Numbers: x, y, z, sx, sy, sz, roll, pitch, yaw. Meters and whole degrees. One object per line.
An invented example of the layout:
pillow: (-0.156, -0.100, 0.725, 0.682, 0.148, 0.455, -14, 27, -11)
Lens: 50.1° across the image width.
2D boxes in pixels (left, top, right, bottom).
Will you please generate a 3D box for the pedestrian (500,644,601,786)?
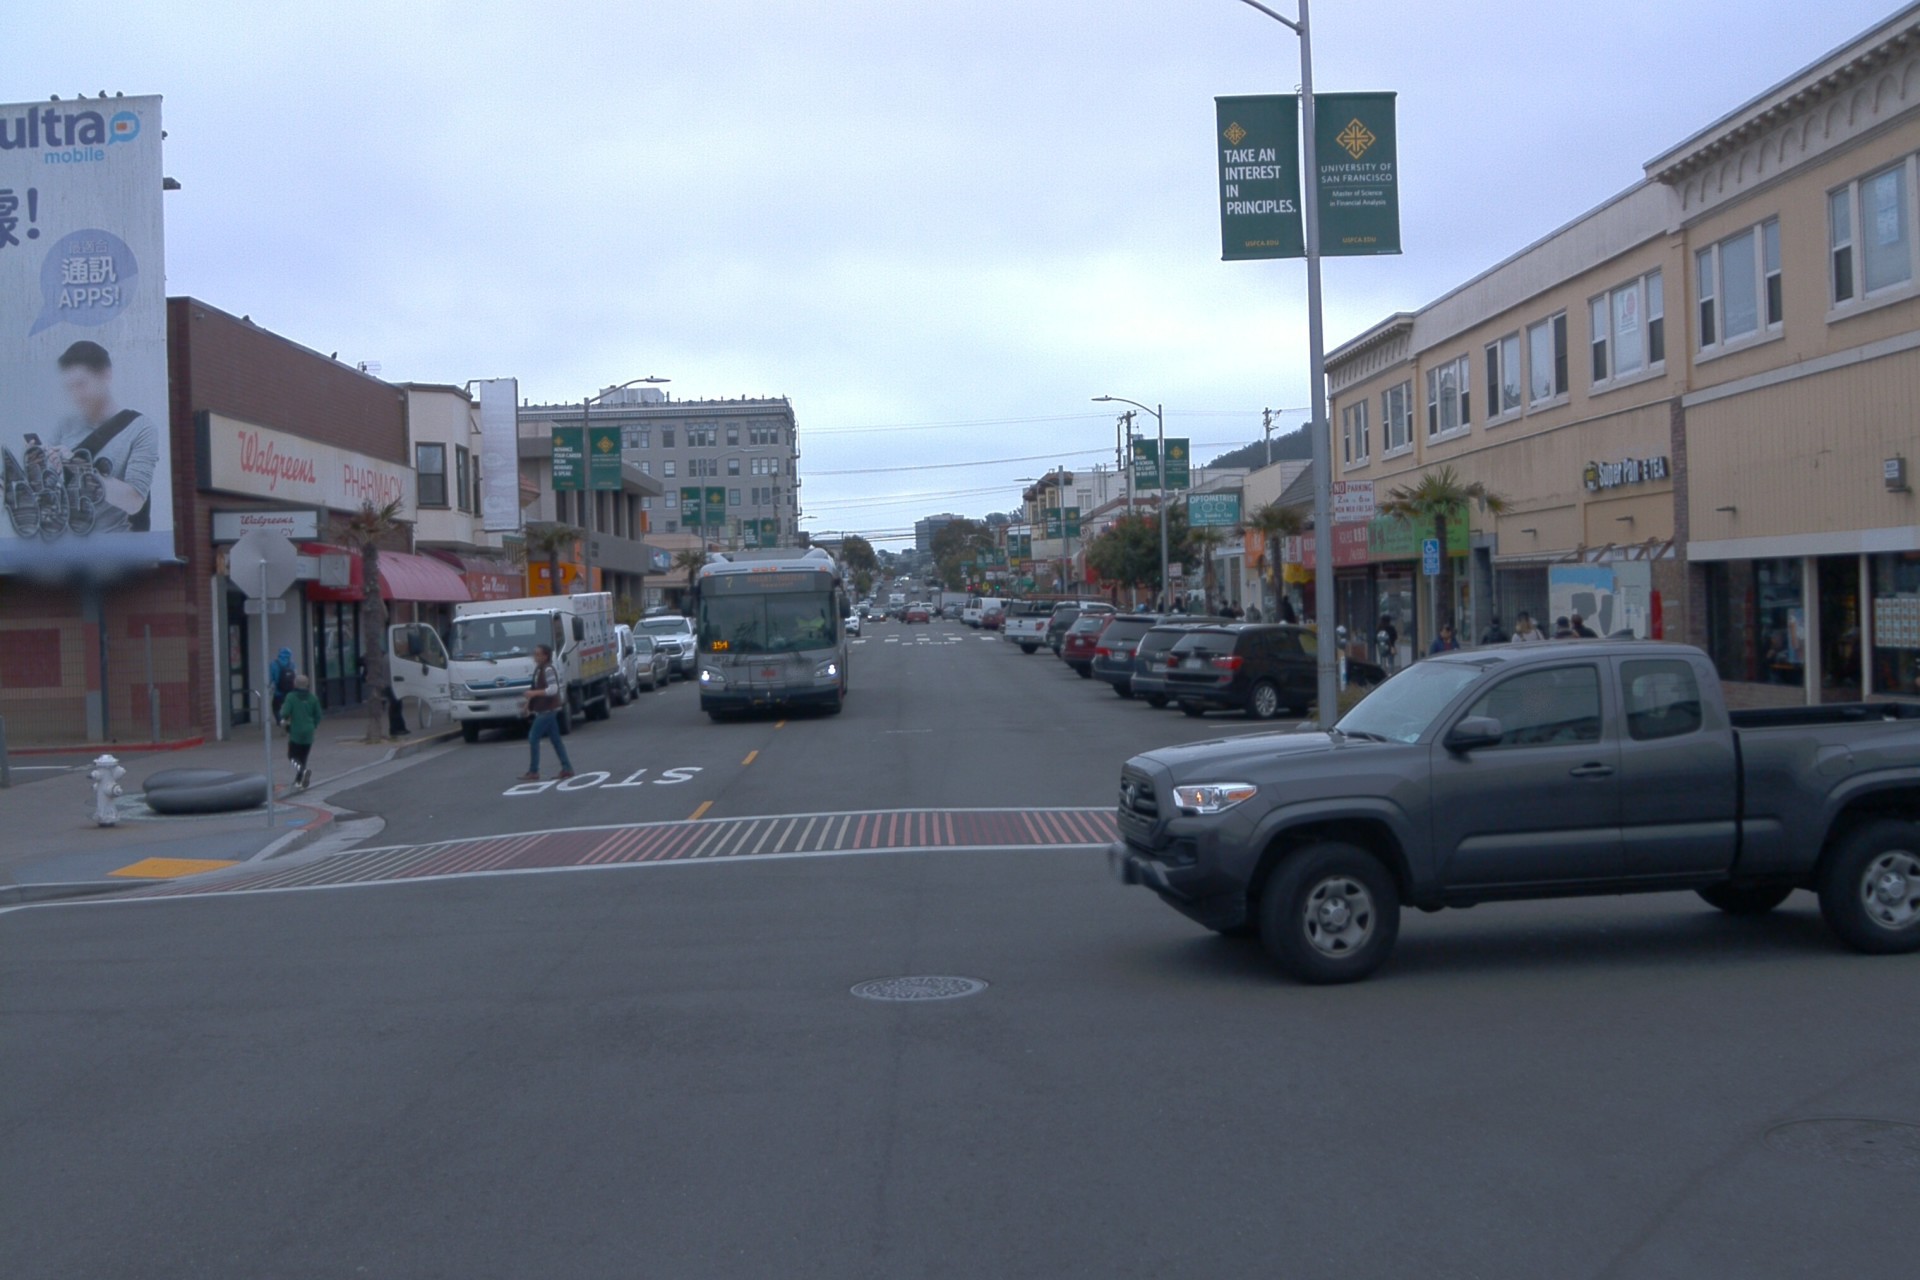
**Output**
pedestrian: (-5.464, 0.981, 27.404, 1.260, 1.820, 0.886, -1, 1, -13)

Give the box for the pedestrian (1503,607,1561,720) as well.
pedestrian: (9.317, 0.371, 33.513, 0.711, 1.824, 0.916, 0, 1, 2)

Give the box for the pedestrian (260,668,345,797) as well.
pedestrian: (-9.118, 1.261, 28.516, 0.764, 1.713, 1.108, -1, 1, -39)

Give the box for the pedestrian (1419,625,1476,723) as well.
pedestrian: (8.123, 0.555, 34.310, 0.747, 1.598, 0.778, 0, 1, -1)

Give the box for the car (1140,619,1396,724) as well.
car: (5.569, 0.505, 36.902, 4.510, 1.740, 2.044, -1, 1, -39)

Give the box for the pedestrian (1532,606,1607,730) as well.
pedestrian: (8.800, 0.390, 29.714, 0.925, 1.770, 0.948, 0, 1, 9)
